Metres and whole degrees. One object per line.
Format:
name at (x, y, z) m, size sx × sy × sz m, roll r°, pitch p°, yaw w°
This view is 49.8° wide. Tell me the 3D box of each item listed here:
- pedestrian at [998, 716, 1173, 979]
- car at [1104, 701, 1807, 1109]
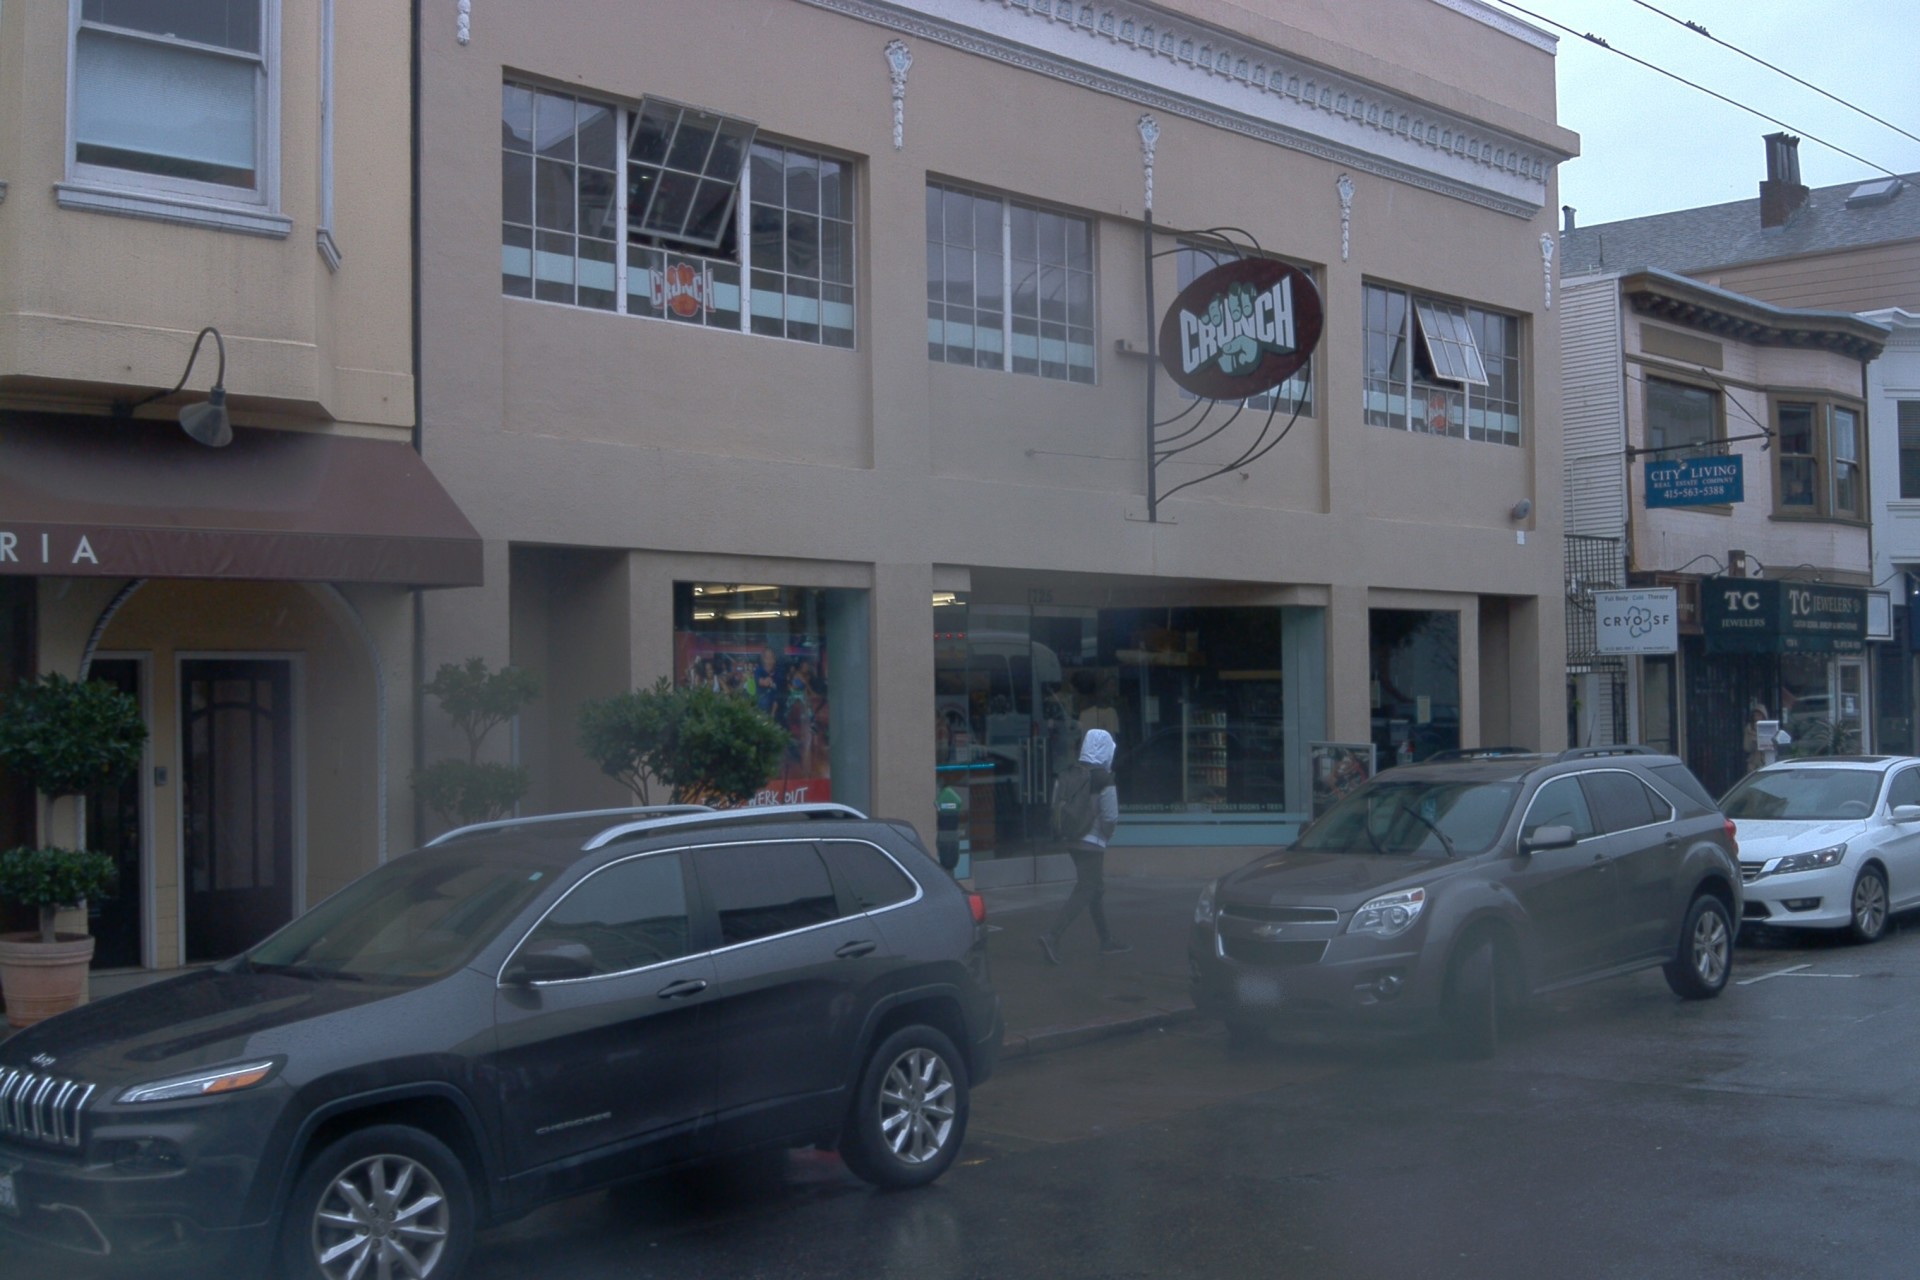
pedestrian at (0.923, 1.487, 15.198) m, size 1.056 × 1.800 × 0.729 m, roll 0°, pitch 1°, yaw -43°
car at (3.367, 1.461, 13.326) m, size 5.008 × 1.960 × 2.059 m, roll 0°, pitch 1°, yaw -45°
